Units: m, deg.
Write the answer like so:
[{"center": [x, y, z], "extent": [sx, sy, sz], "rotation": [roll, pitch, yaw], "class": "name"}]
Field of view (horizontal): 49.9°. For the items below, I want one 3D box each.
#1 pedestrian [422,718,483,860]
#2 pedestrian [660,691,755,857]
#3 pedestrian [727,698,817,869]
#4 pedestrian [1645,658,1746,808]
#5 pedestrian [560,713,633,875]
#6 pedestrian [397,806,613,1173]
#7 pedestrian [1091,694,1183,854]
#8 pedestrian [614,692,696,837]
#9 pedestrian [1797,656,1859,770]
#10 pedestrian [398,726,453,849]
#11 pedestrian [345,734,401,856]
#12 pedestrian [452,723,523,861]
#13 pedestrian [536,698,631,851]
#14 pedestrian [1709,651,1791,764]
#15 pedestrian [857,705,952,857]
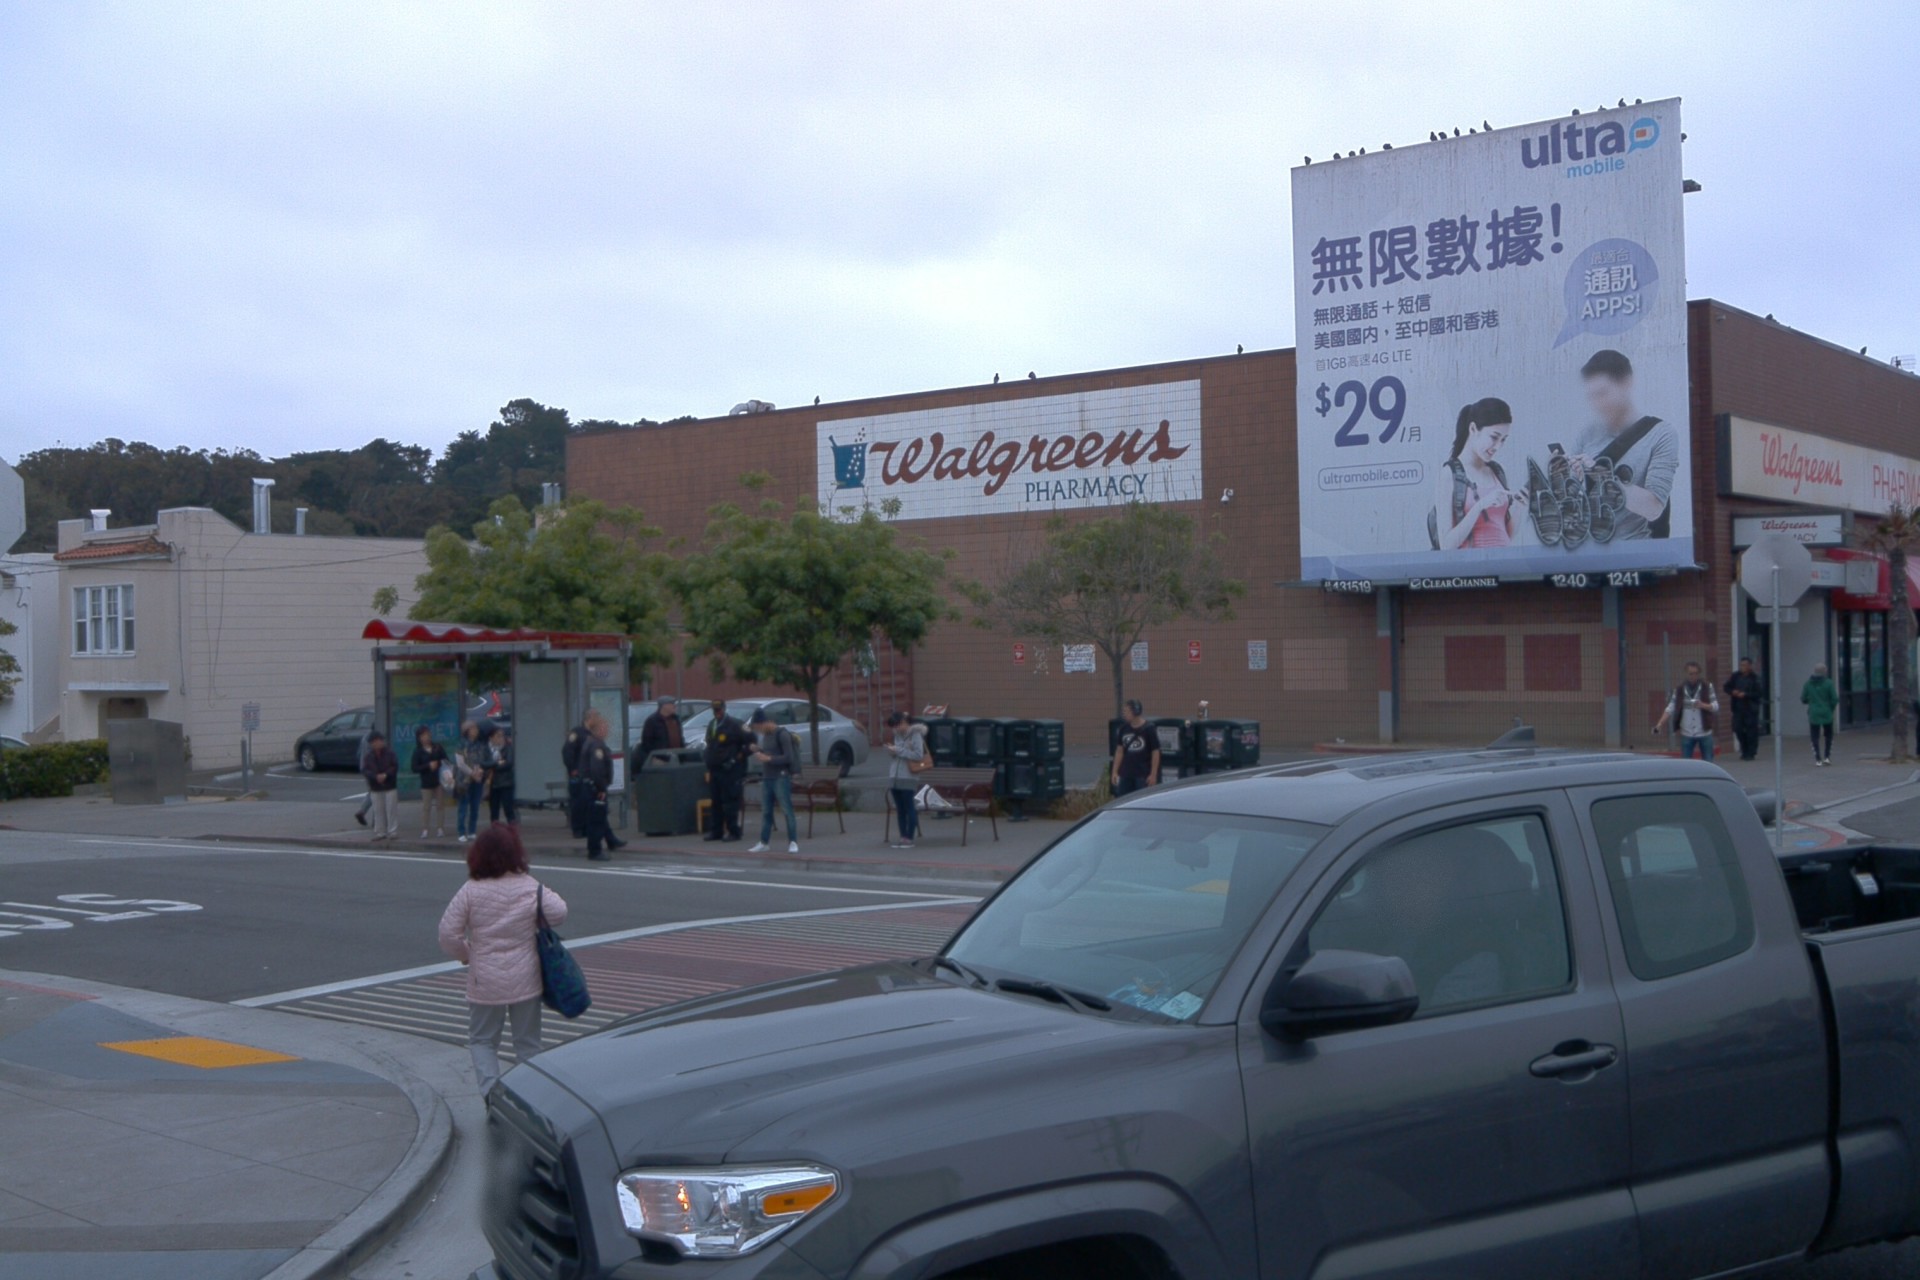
[{"center": [-6.813, 1.987, 27.707], "extent": [0.761, 1.830, 0.681], "rotation": [0, 1, -16], "class": "pedestrian"}, {"center": [-3.115, 1.626, 25.415], "extent": [0.959, 1.930, 0.989], "rotation": [0, 1, -21], "class": "pedestrian"}, {"center": [-2.190, 1.652, 24.121], "extent": [0.661, 1.910, 0.879], "rotation": [1, 1, 29], "class": "pedestrian"}, {"center": [9.402, 1.158, 26.365], "extent": [0.880, 1.820, 1.268], "rotation": [1, 1, 36], "class": "pedestrian"}, {"center": [-4.374, 1.824, 24.807], "extent": [0.812, 1.841, 0.985], "rotation": [0, 1, -13], "class": "pedestrian"}, {"center": [-2.072, 1.544, 9.397], "extent": [0.911, 1.479, 0.850], "rotation": [0, 1, -14], "class": "pedestrian"}, {"center": [2.010, 1.504, 23.449], "extent": [0.739, 1.730, 0.723], "rotation": [-1, 1, -42], "class": "pedestrian"}, {"center": [-4.251, 1.712, 28.737], "extent": [0.922, 1.935, 0.825], "rotation": [-1, 1, -27], "class": "pedestrian"}, {"center": [13.599, 1.122, 32.319], "extent": [0.764, 1.713, 1.107], "rotation": [1, 1, 29], "class": "pedestrian"}, {"center": [-7.397, 2.028, 28.604], "extent": [0.685, 1.635, 0.708], "rotation": [0, 1, -11], "class": "pedestrian"}, {"center": [-8.150, 2.141, 28.679], "extent": [0.685, 1.610, 0.708], "rotation": [0, 1, -11], "class": "pedestrian"}, {"center": [-6.211, 1.983, 27.111], "extent": [0.687, 1.730, 0.706], "rotation": [-1, 1, -34], "class": "pedestrian"}, {"center": [-4.976, 1.756, 27.286], "extent": [0.939, 1.910, 0.842], "rotation": [-1, 1, -38], "class": "pedestrian"}, {"center": [12.932, 1.087, 33.788], "extent": [0.932, 1.791, 0.906], "rotation": [-1, 1, -39], "class": "pedestrian"}, {"center": [-0.642, 1.623, 24.020], "extent": [0.872, 1.690, 0.667], "rotation": [1, 1, 34], "class": "pedestrian"}]
